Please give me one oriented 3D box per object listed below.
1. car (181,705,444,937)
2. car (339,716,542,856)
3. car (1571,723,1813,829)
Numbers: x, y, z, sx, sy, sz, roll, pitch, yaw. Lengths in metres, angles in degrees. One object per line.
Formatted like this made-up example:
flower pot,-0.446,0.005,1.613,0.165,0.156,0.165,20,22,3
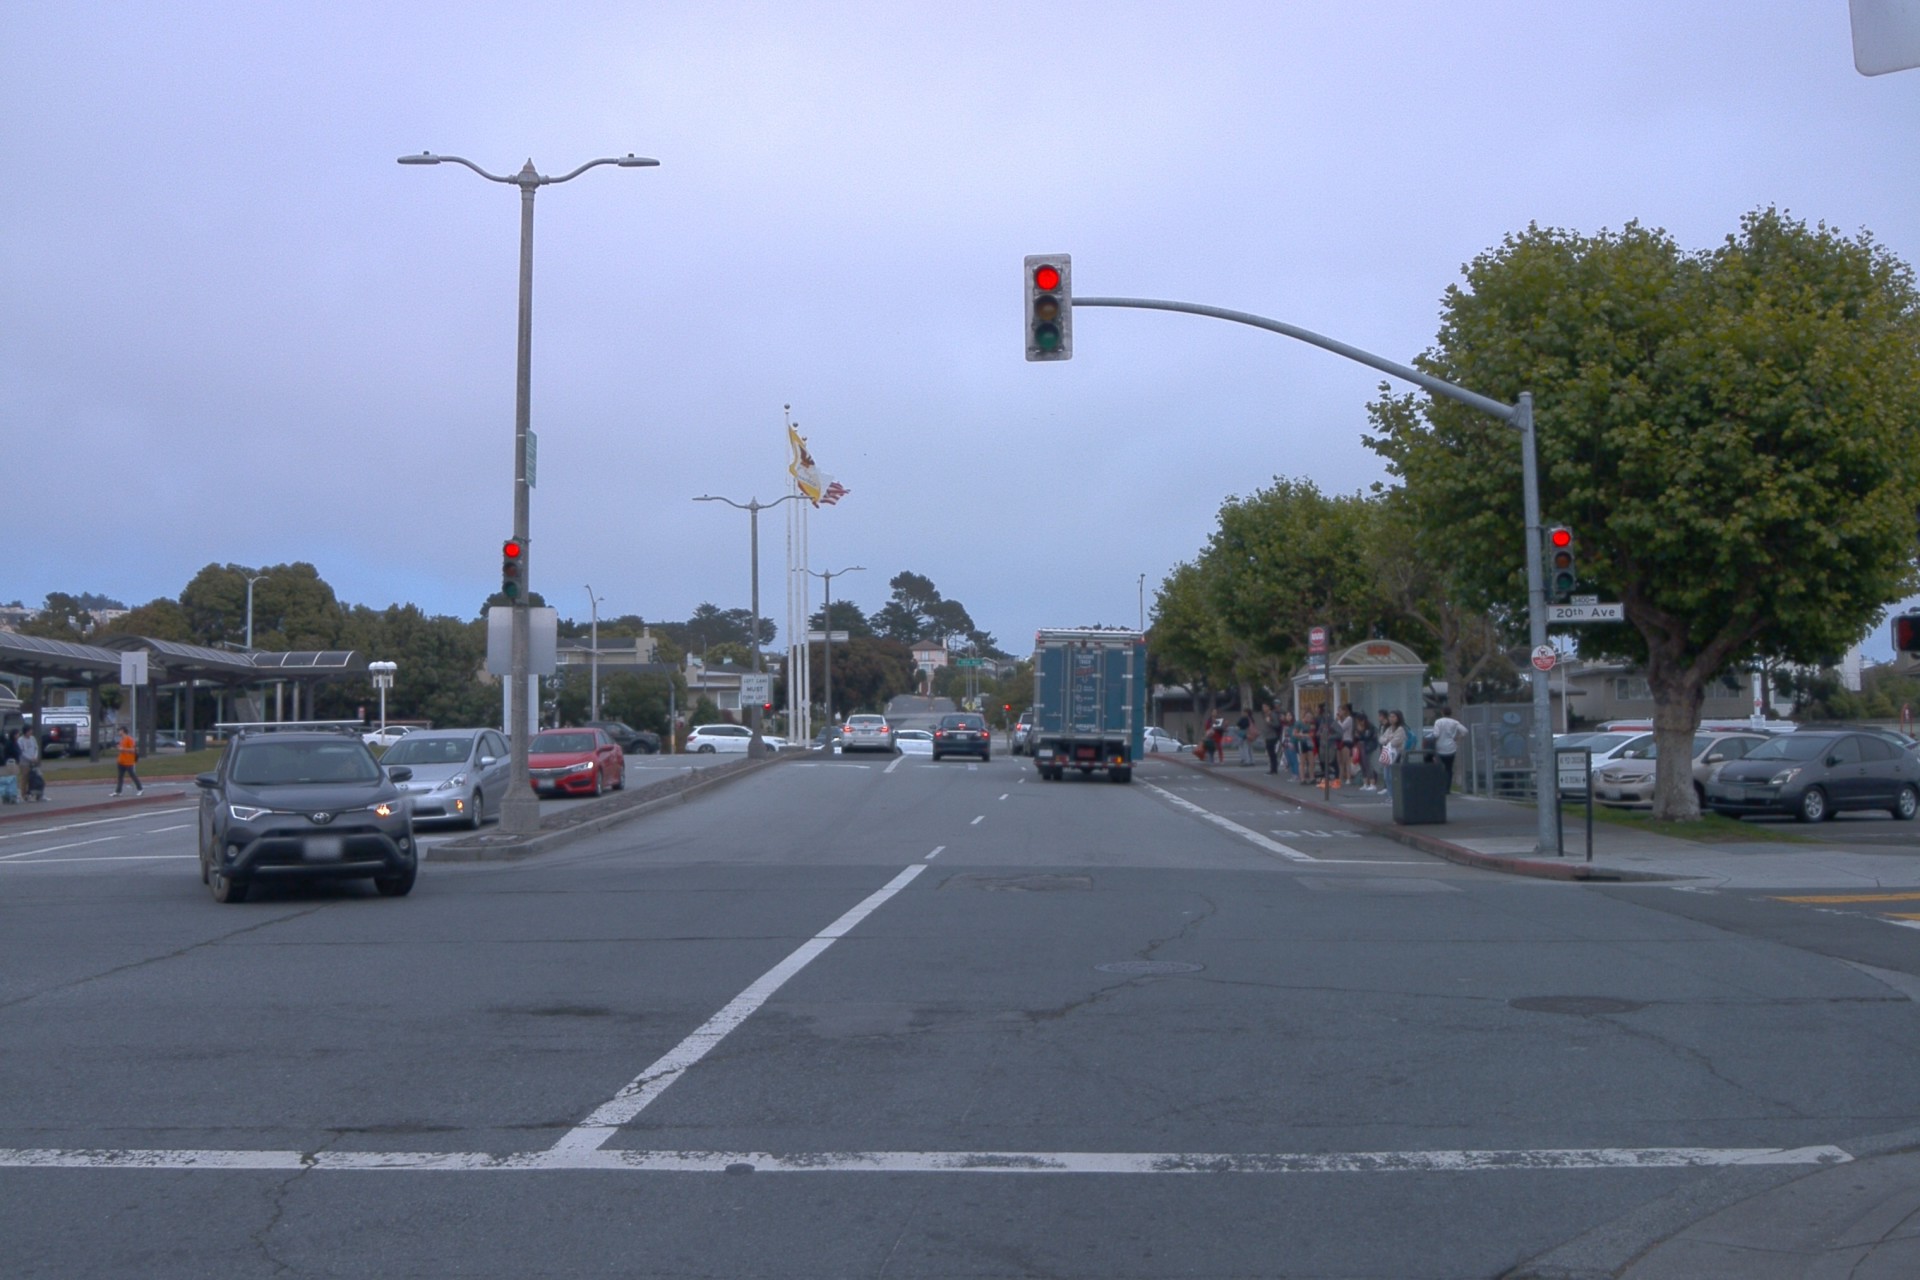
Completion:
car,-6.785,1.724,21.190,2.097,1.889,4.601,-1,1,-23
car,-8.129,2.233,32.611,2.109,1.825,4.683,0,1,-1
car,12.842,2.334,36.024,3.959,1.540,1.985,-1,1,-33
